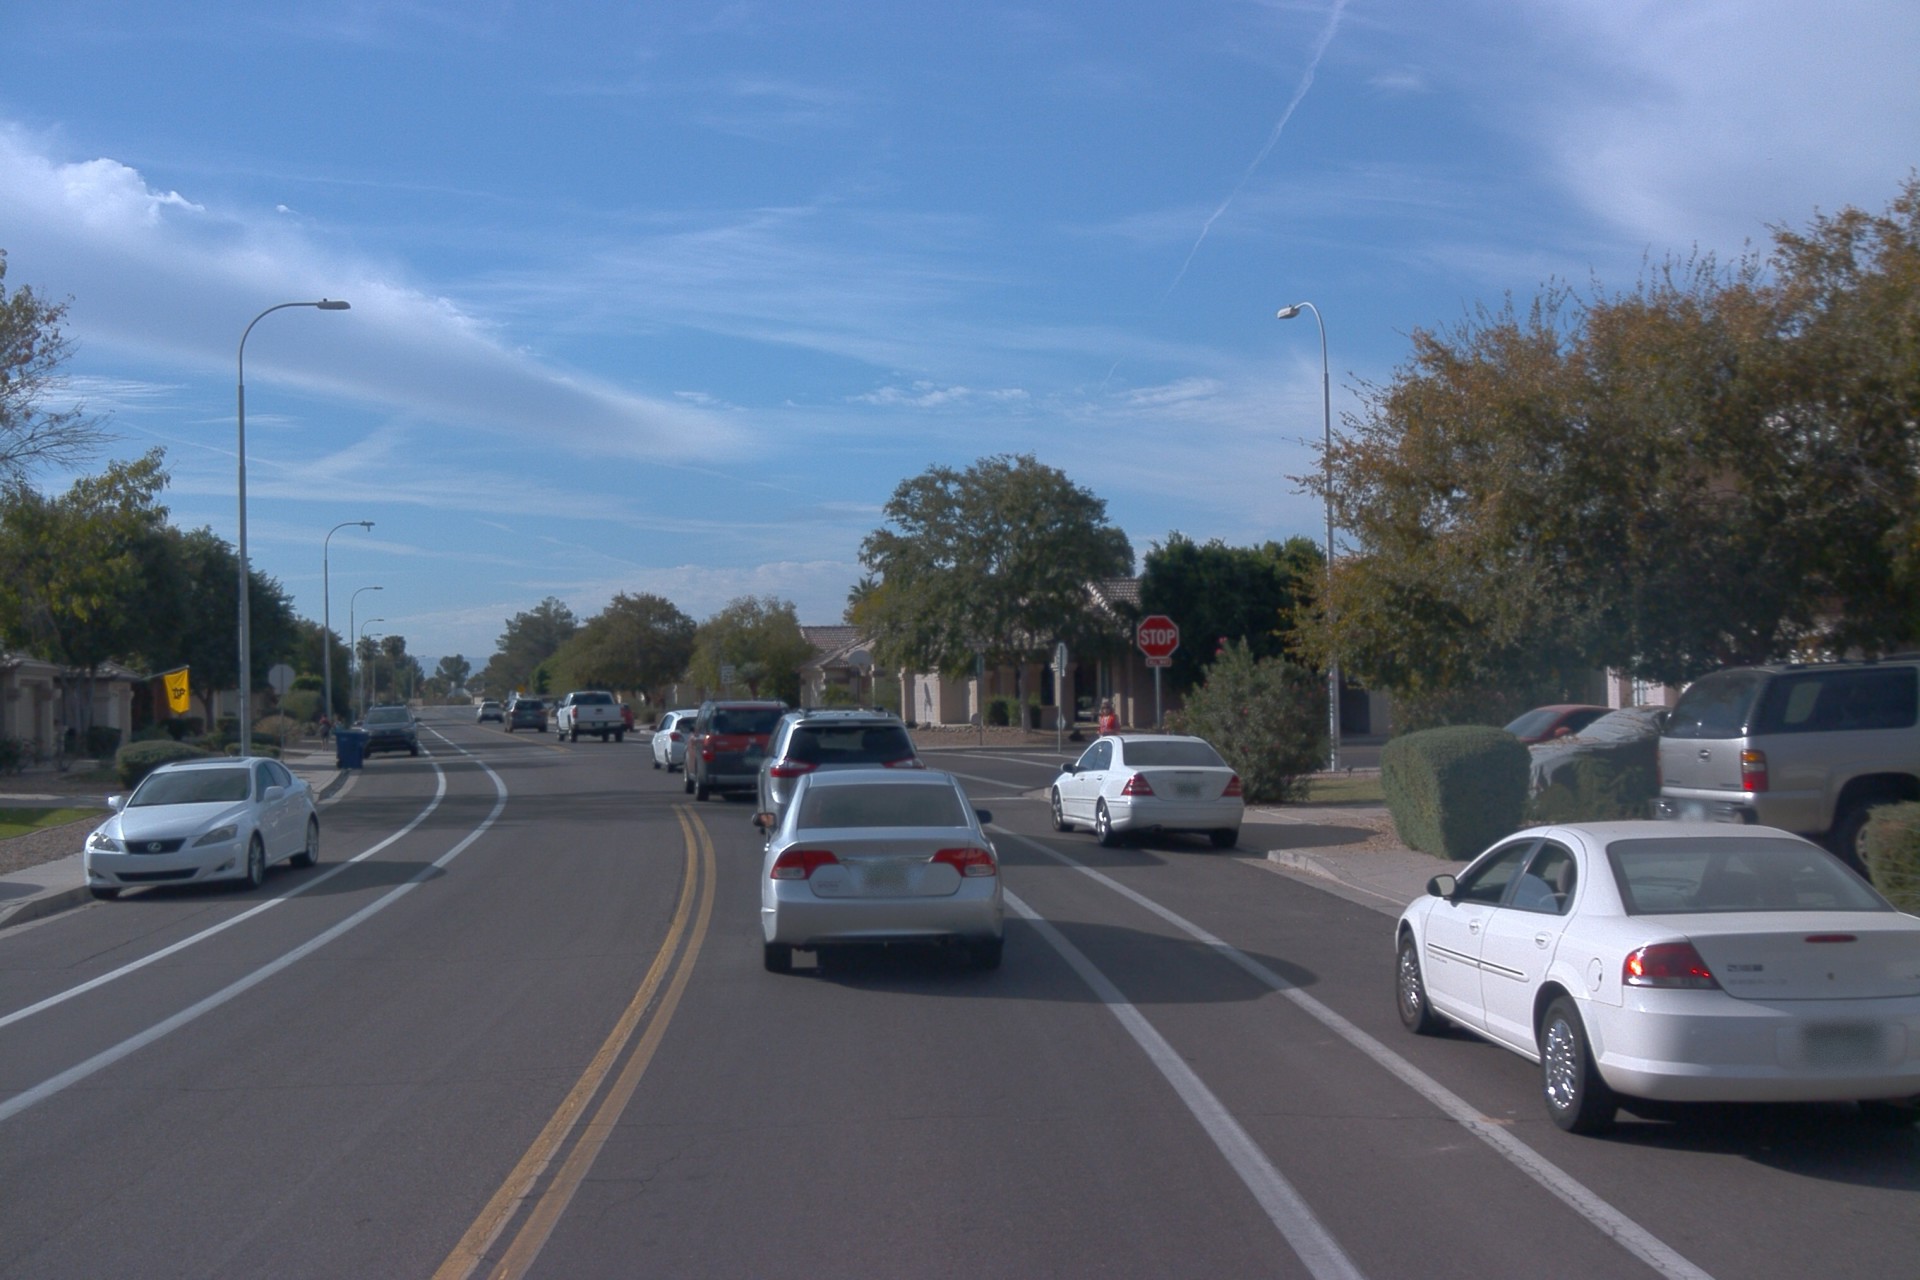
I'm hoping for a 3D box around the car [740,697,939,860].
[{"bbox_3d":[-1.656,1.693,26.869,2.196,1.870,4.613,0,-1,-8],"label":"car"}]

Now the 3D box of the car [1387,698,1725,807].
[{"bbox_3d":[8.459,1.569,29.667,4.231,1.440,1.854,0,-1,-11],"label":"car"}]

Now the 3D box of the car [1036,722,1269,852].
[{"bbox_3d":[2.423,1.866,27.440,1.981,1.460,4.428,0,-1,-10],"label":"car"}]

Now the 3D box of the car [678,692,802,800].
[{"bbox_3d":[-4.036,1.869,37.683,1.819,1.810,3.839,0,-1,-12],"label":"car"}]

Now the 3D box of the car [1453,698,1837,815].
[{"bbox_3d":[8.886,1.483,27.139,4.335,1.400,1.953,0,-1,-10],"label":"car"}]

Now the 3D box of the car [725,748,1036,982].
[{"bbox_3d":[-0.683,1.655,16.480,2.121,1.440,4.395,0,-1,-4],"label":"car"}]

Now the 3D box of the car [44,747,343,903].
[{"bbox_3d":[-8.790,2.072,24.317,2.145,1.490,4.440,0,-1,-4],"label":"car"}]
